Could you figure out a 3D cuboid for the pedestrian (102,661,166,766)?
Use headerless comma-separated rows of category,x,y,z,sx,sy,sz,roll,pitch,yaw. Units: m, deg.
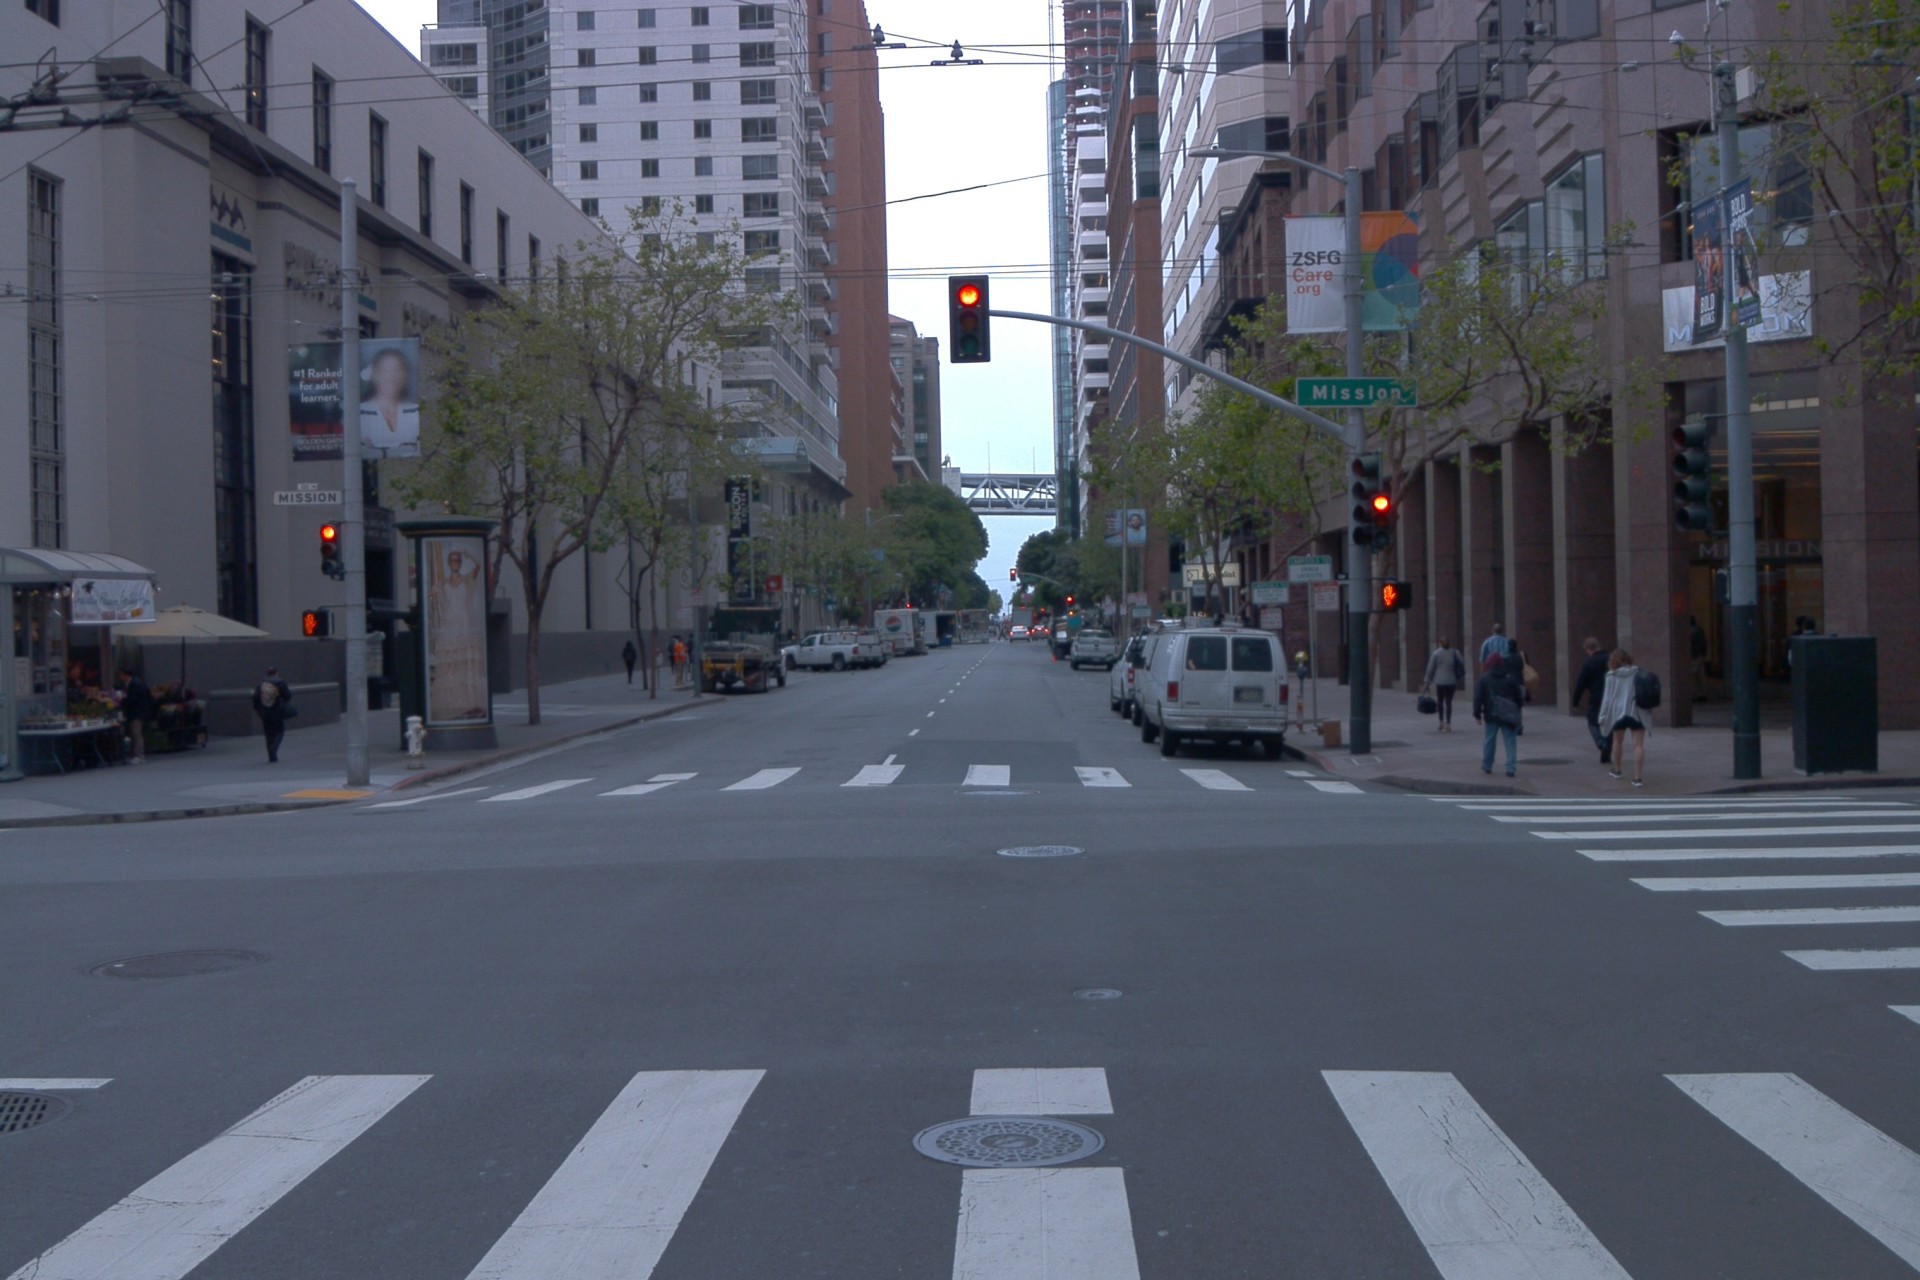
pedestrian,-14.059,1.238,35.002,0.753,1.746,0.847,0,1,-3

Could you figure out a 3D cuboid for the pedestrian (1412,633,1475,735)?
pedestrian,8.139,0.730,34.660,0.919,1.696,0.981,0,1,6

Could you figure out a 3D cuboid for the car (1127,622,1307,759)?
car,4.217,0.757,34.667,2.314,2.100,5.500,0,1,0

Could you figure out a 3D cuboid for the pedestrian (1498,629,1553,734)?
pedestrian,9.058,0.653,32.946,0.668,1.666,0.852,0,1,2

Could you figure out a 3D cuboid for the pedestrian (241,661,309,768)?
pedestrian,-11.672,1.256,35.067,0.844,1.766,0.960,0,1,-1

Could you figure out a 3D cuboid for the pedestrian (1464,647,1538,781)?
pedestrian,7.095,0.952,26.988,0.758,1.713,0.969,0,1,4

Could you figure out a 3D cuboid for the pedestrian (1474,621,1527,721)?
pedestrian,9.715,0.551,36.976,0.725,1.766,0.971,0,1,3

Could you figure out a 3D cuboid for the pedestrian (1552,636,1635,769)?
pedestrian,8.498,0.821,27.607,0.856,1.736,0.997,0,1,4

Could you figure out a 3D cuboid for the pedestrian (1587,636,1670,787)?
pedestrian,8.442,0.884,25.988,0.844,1.856,0.959,0,1,9
